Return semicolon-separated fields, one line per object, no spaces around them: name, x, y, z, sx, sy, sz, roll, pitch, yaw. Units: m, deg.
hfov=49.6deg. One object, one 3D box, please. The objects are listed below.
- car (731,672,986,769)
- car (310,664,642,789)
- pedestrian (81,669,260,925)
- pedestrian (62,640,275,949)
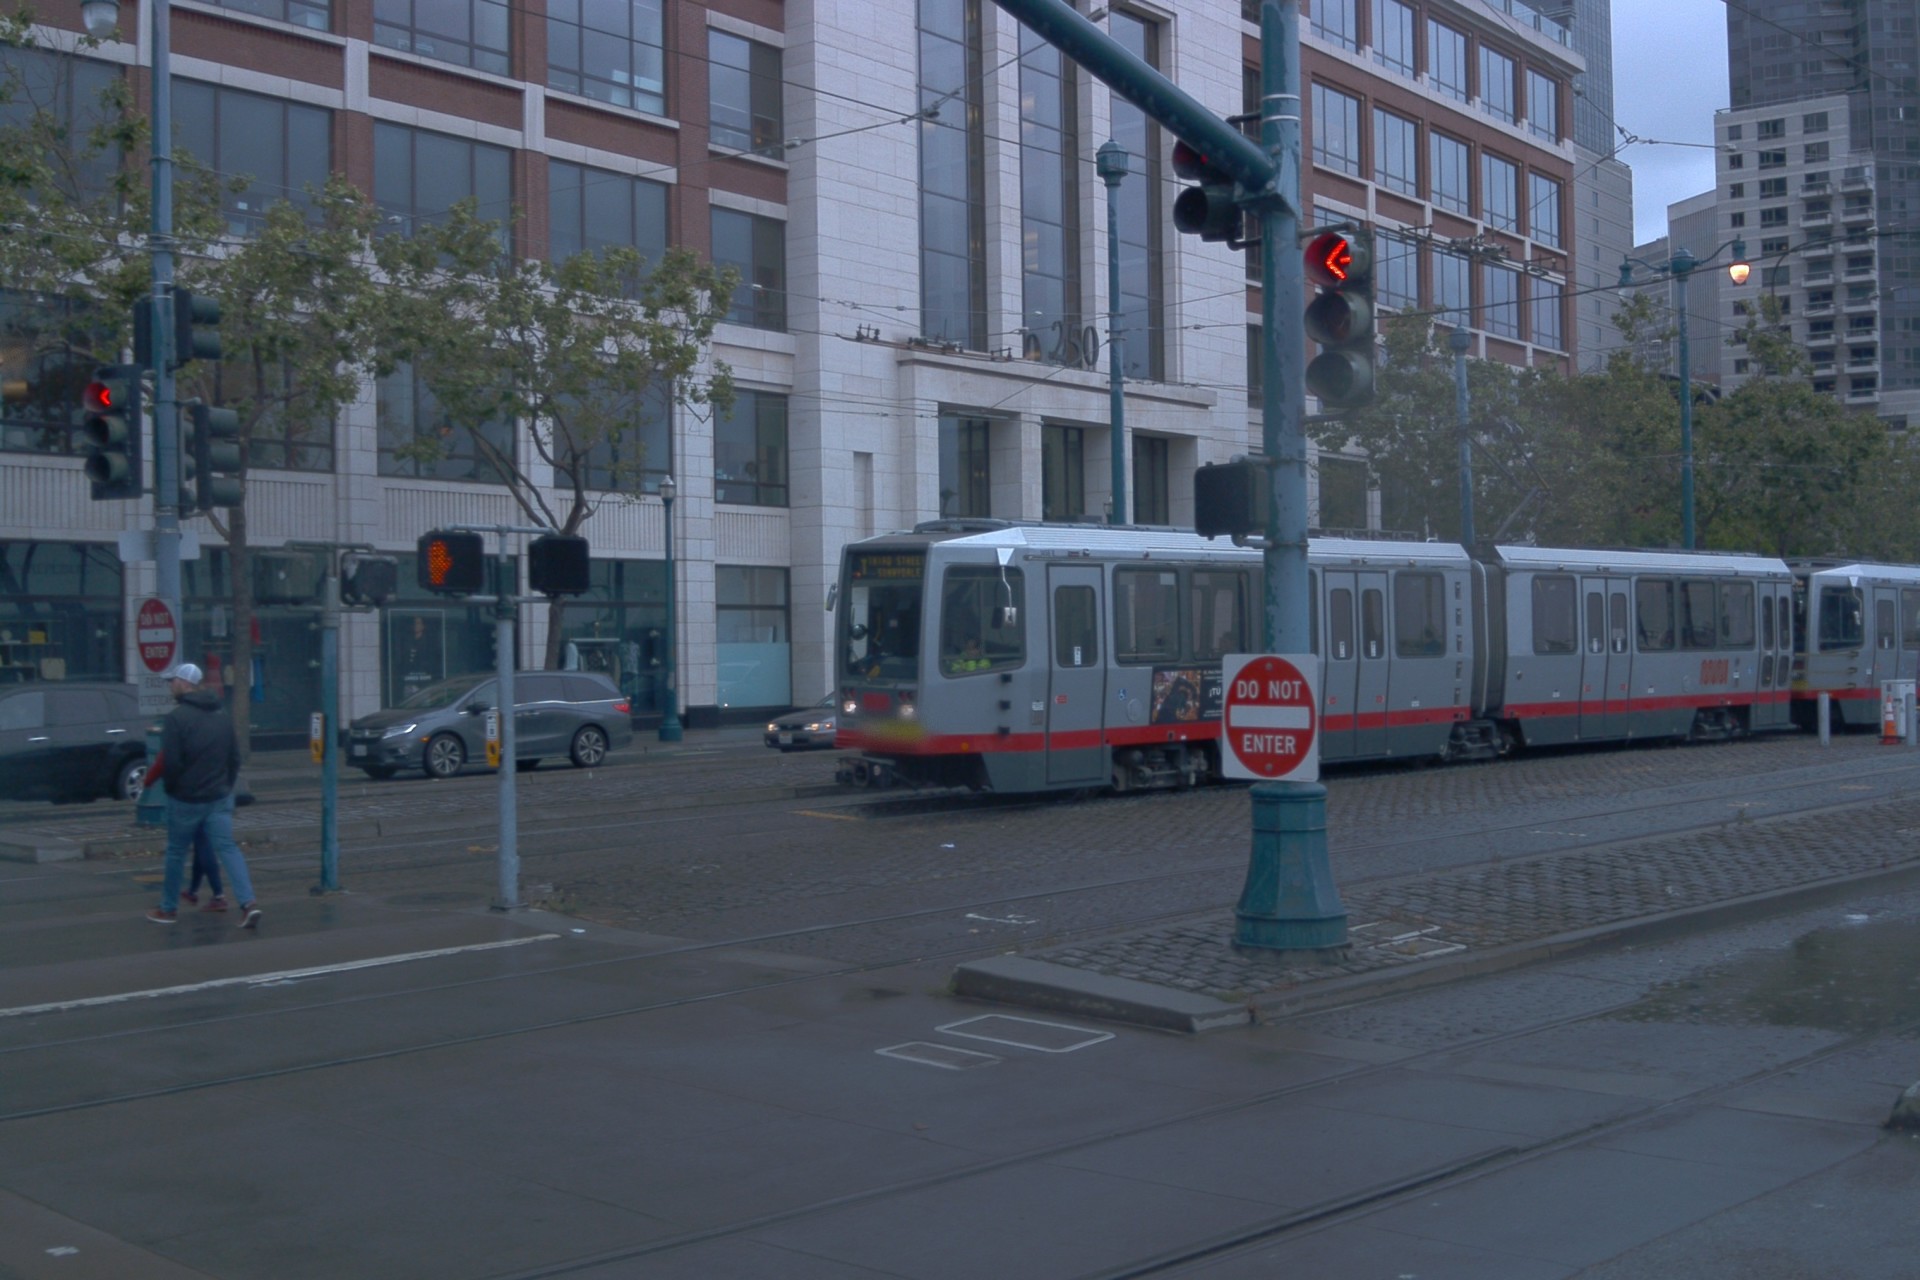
car;-1.777;1.398;37.613;2.104;1.580;4.502;0;0;40
car;-8.037;1.371;34.985;2.140;1.880;5.196;0;0;40
pedestrian;-5.764;1.107;15.182;0.978;1.770;0.836;0;0;39
pedestrian;-5.381;1.001;14.141;1.167;2.000;0.834;0;0;35
